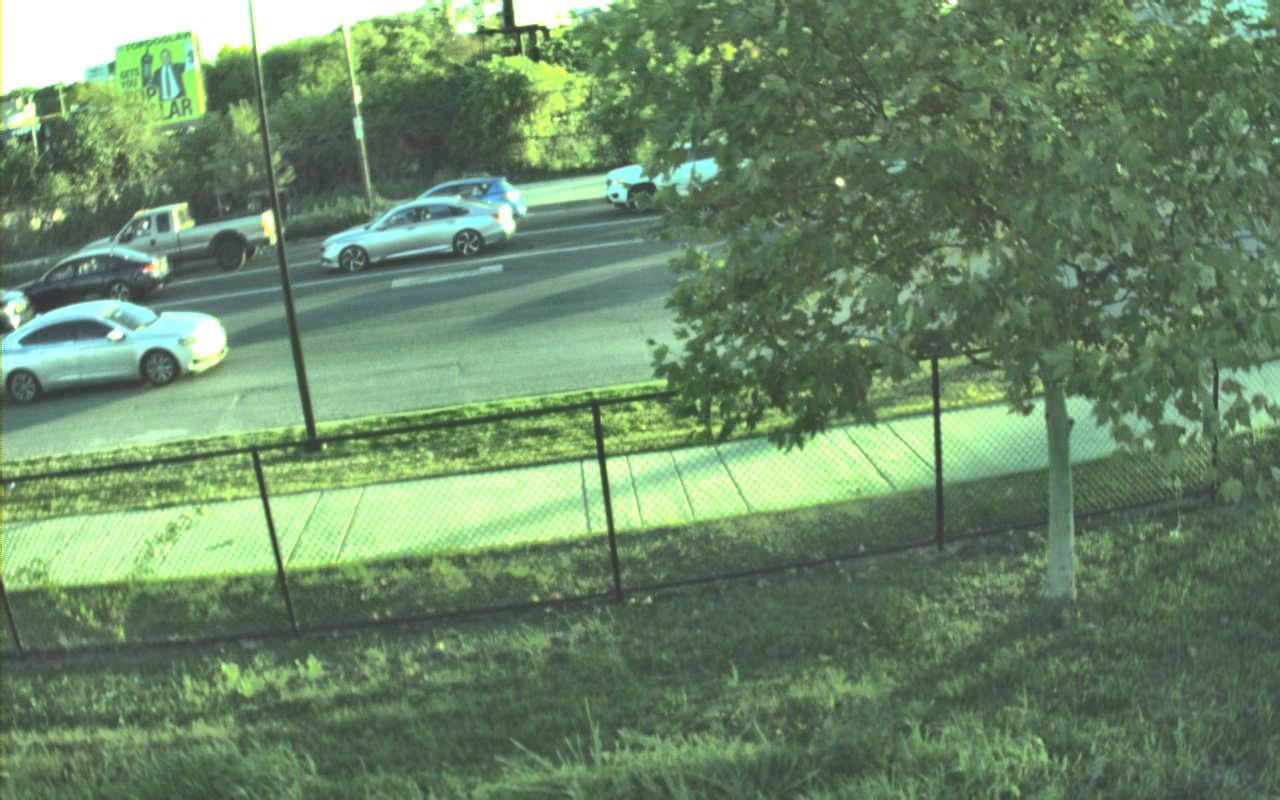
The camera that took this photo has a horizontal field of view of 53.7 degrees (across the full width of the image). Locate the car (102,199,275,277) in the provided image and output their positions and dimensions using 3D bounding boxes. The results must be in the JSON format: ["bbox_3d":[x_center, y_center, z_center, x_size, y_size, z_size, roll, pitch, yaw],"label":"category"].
[{"bbox_3d":[-12.741,-4.525,33.422,4.658,1.634,2.007,-2,16,-5],"label":"car"}]

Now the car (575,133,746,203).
[{"bbox_3d":[0.527,-6.456,34.678,4.534,1.621,1.974,-3,16,-6],"label":"car"}]
